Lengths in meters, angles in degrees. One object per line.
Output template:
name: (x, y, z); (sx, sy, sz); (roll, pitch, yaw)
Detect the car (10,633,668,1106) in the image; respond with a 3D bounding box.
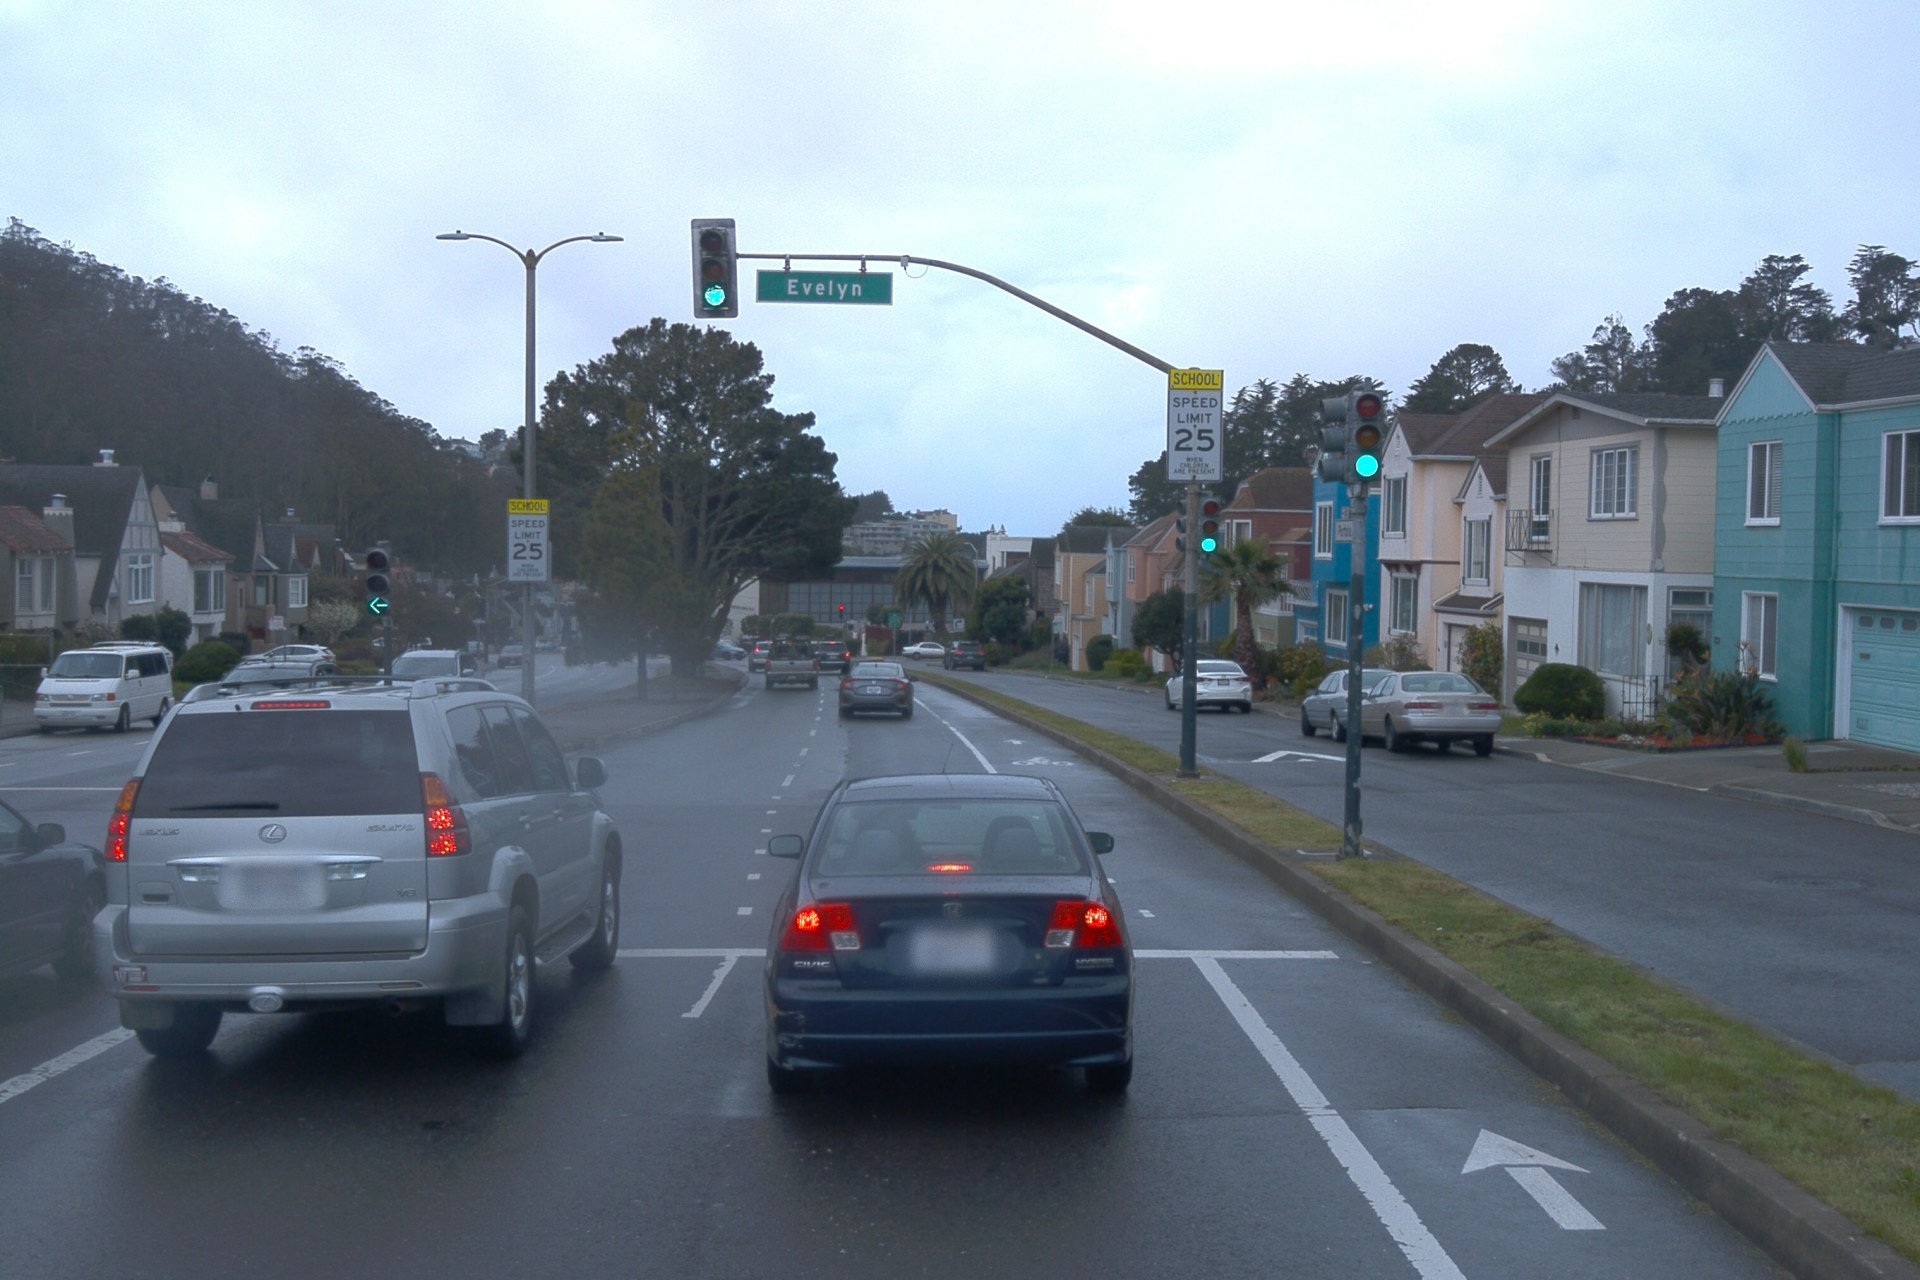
car: (-3.058, 1.007, 11.412); (2.249, 2.070, 4.734); (0, 0, -1)

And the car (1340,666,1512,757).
car: (8.084, 1.198, 36.132); (1.755, 1.440, 4.469); (0, 0, -4)

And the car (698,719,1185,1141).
car: (-0.116, 1.270, 10.568); (2.004, 1.570, 4.164); (0, 0, -1)
